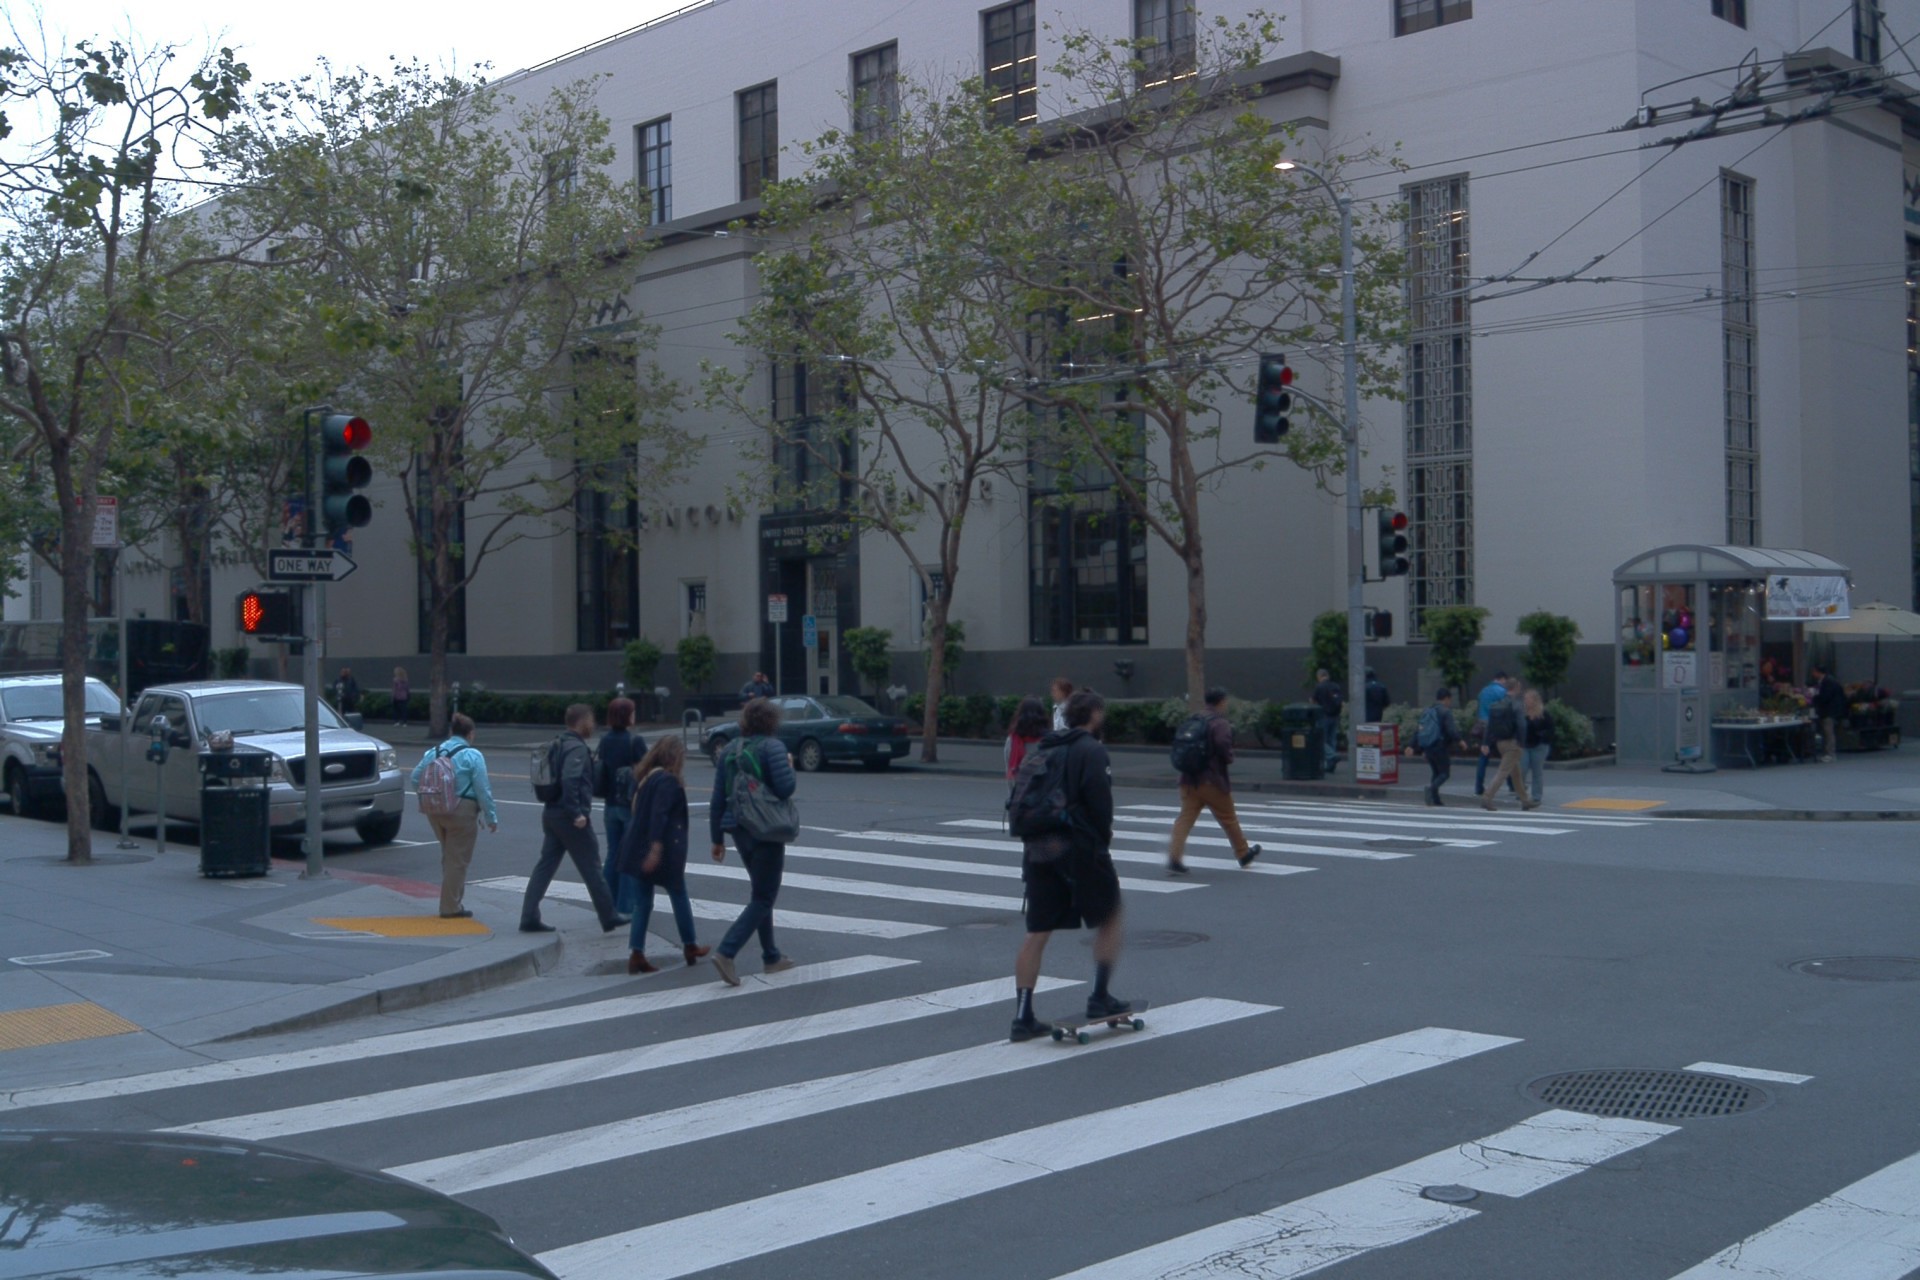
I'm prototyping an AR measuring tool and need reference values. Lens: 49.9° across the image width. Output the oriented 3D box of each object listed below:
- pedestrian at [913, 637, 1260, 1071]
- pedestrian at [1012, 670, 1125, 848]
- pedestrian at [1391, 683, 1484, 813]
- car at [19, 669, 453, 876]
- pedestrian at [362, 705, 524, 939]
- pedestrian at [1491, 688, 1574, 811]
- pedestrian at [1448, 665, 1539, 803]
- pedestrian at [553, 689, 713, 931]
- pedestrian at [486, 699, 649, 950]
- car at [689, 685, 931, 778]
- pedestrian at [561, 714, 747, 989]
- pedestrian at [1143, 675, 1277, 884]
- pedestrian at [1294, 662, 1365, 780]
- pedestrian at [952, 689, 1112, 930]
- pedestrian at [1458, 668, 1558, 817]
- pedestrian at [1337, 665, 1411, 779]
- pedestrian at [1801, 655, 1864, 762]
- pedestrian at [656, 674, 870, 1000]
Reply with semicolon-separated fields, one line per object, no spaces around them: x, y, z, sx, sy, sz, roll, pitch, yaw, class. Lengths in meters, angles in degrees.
0.690;1.054;11.099;1.544;2.118;1.097;-1;1;-42;pedestrian
1.140;1.233;21.754;0.939;1.800;0.808;0;1;-22;pedestrian
6.562;1.463;28.334;0.974;1.706;0.840;-1;1;-43;pedestrian
-8.544;1.389;23.966;2.501;1.940;6.007;-1;1;-44;car
-4.148;1.430;16.625;0.830;1.767;1.012;0;1;20;pedestrian
7.964;1.508;28.722;0.894;1.646;0.735;-1;1;-39;pedestrian
7.574;1.312;29.301;0.983;1.896;0.798;-1;1;-36;pedestrian
-2.661;1.352;16.831;0.828;1.856;0.973;1;1;41;pedestrian
-3.031;1.385;15.915;0.942;1.809;0.850;-1;1;-38;pedestrian
-2.877;1.667;38.791;2.016;1.480;4.678;-1;1;-44;car
-2.088;1.408;14.130;0.882;1.741;0.892;0;1;33;pedestrian
2.229;1.214;18.366;0.964;1.771;0.716;-1;1;-40;pedestrian
6.017;1.300;33.599;0.681;1.856;0.975;-1;1;-29;pedestrian
0.565;1.271;15.938;0.796;1.739;1.044;0;1;34;pedestrian
7.244;1.328;27.289;1.051;1.896;0.762;-1;1;-31;pedestrian
6.746;1.314;33.642;0.756;1.796;0.983;0;1;-25;pedestrian
14.668;1.132;34.691;0.751;1.746;0.848;1;1;42;pedestrian
-1.265;1.223;13.403;0.843;1.969;1.166;0;1;32;pedestrian
